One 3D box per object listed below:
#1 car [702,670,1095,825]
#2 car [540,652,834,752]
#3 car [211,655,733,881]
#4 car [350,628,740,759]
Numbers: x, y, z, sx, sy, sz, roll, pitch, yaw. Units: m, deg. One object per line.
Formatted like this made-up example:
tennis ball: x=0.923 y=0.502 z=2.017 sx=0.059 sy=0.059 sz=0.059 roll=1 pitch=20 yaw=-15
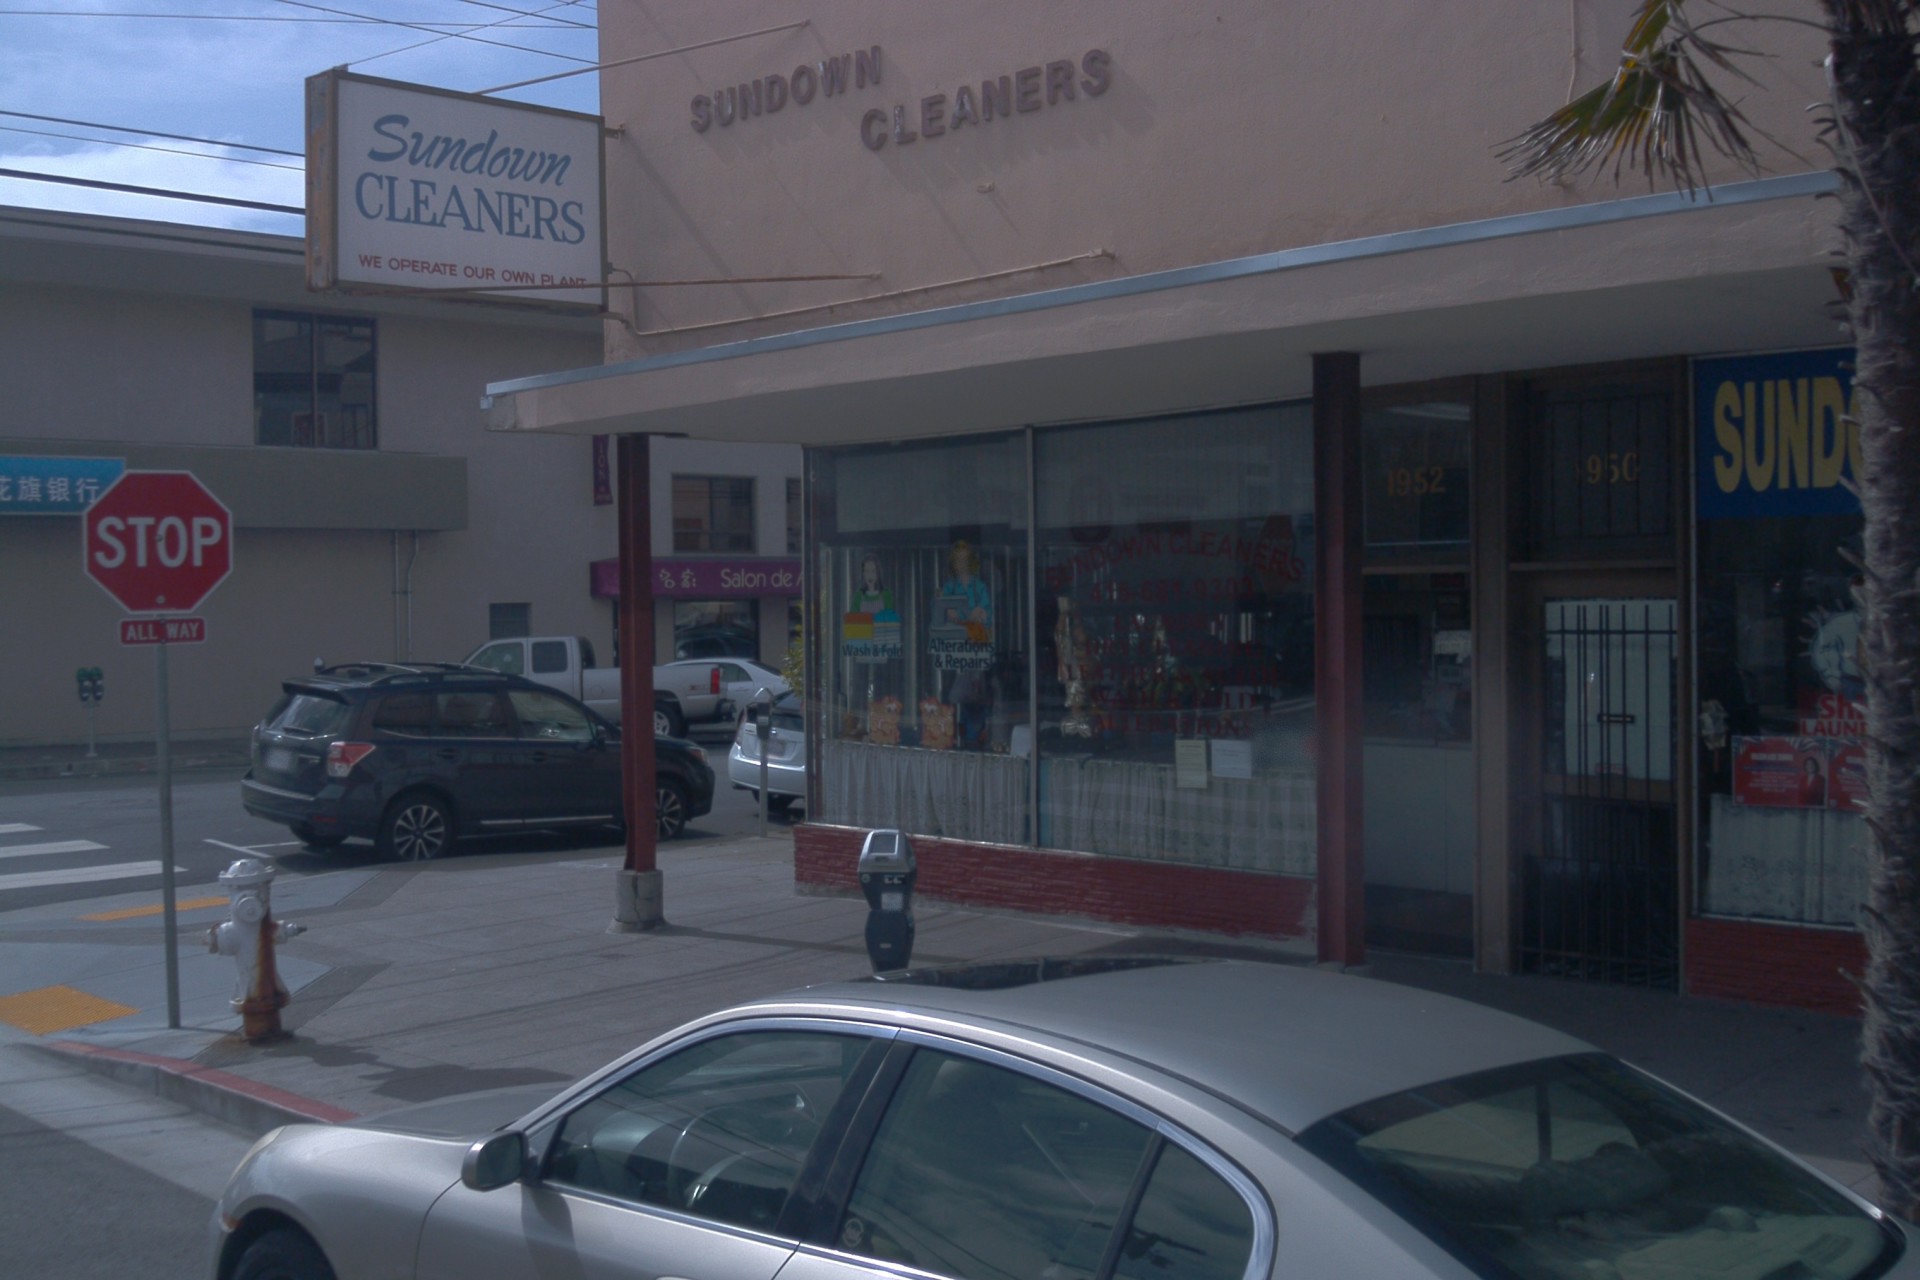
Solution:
car: x=-0.612 y=1.128 z=23.318 sx=2.020 sy=1.567 sz=4.203 roll=0 pitch=-1 yaw=44
car: x=-4.619 y=1.040 z=35.528 sx=4.699 sy=1.630 sz=2.090 roll=0 pitch=-1 yaw=4
car: x=-4.483 y=1.093 z=19.487 sx=2.005 sy=1.877 sz=4.386 roll=0 pitch=-1 yaw=44
car: x=-6.495 y=0.833 z=33.014 sx=5.805 sy=1.970 sz=2.405 roll=0 pitch=-1 yaw=-2
